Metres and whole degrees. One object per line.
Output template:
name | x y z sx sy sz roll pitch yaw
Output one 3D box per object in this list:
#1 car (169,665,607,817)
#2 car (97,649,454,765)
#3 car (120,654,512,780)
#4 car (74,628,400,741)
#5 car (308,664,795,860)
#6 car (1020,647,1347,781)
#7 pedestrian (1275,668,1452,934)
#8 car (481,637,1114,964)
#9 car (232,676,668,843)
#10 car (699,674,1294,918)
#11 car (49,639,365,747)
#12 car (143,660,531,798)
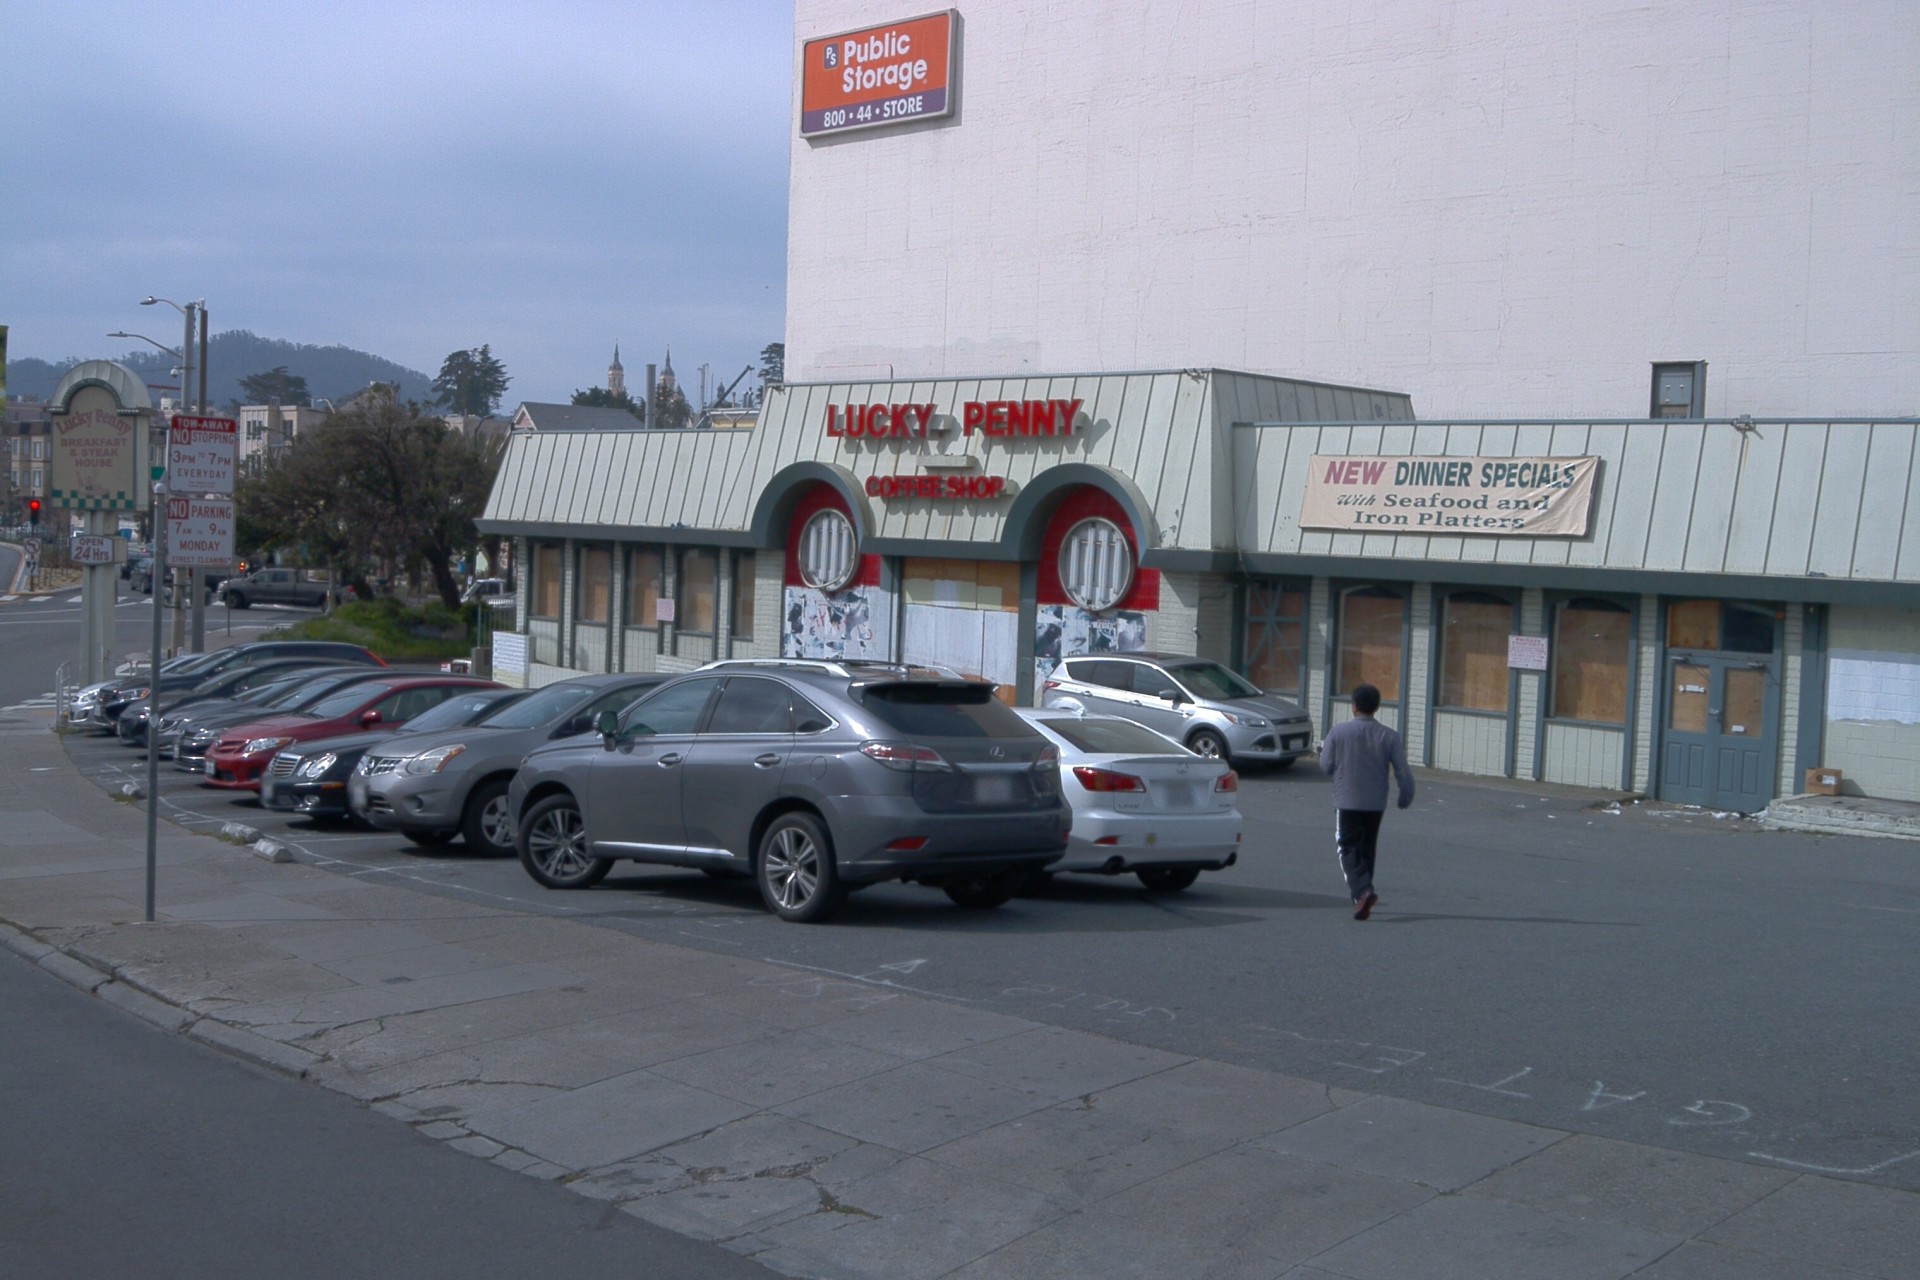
car | -6.657 1.106 24.116 4.484 1.550 2.134 0 0 -44
car | -10.337 0.951 31.104 4.651 1.610 2.192 0 0 -43
car | -8.982 1.005 28.781 4.736 1.590 2.241 0 0 -44
car | -11.717 0.679 33.334 4.561 1.710 2.059 0 0 -43
car | -3.715 1.034 19.045 1.975 1.570 4.019 1 0 44
car | 3.289 1.036 30.718 2.134 1.790 4.557 0 0 -44
pedestrian | 2.763 1.079 14.120 0.943 1.744 1.076 1 0 -3
car | -1.292 0.966 14.599 2.065 1.920 4.493 0 0 -45
car | -5.264 1.166 21.426 4.029 1.500 1.869 0 0 -45
car | 0.159 1.130 16.691 2.088 1.580 4.738 0 0 -44
car | -13.134 0.874 35.853 4.757 1.740 2.072 0 0 -43
car | -7.973 1.073 26.409 4.343 1.580 1.994 0 0 -43
